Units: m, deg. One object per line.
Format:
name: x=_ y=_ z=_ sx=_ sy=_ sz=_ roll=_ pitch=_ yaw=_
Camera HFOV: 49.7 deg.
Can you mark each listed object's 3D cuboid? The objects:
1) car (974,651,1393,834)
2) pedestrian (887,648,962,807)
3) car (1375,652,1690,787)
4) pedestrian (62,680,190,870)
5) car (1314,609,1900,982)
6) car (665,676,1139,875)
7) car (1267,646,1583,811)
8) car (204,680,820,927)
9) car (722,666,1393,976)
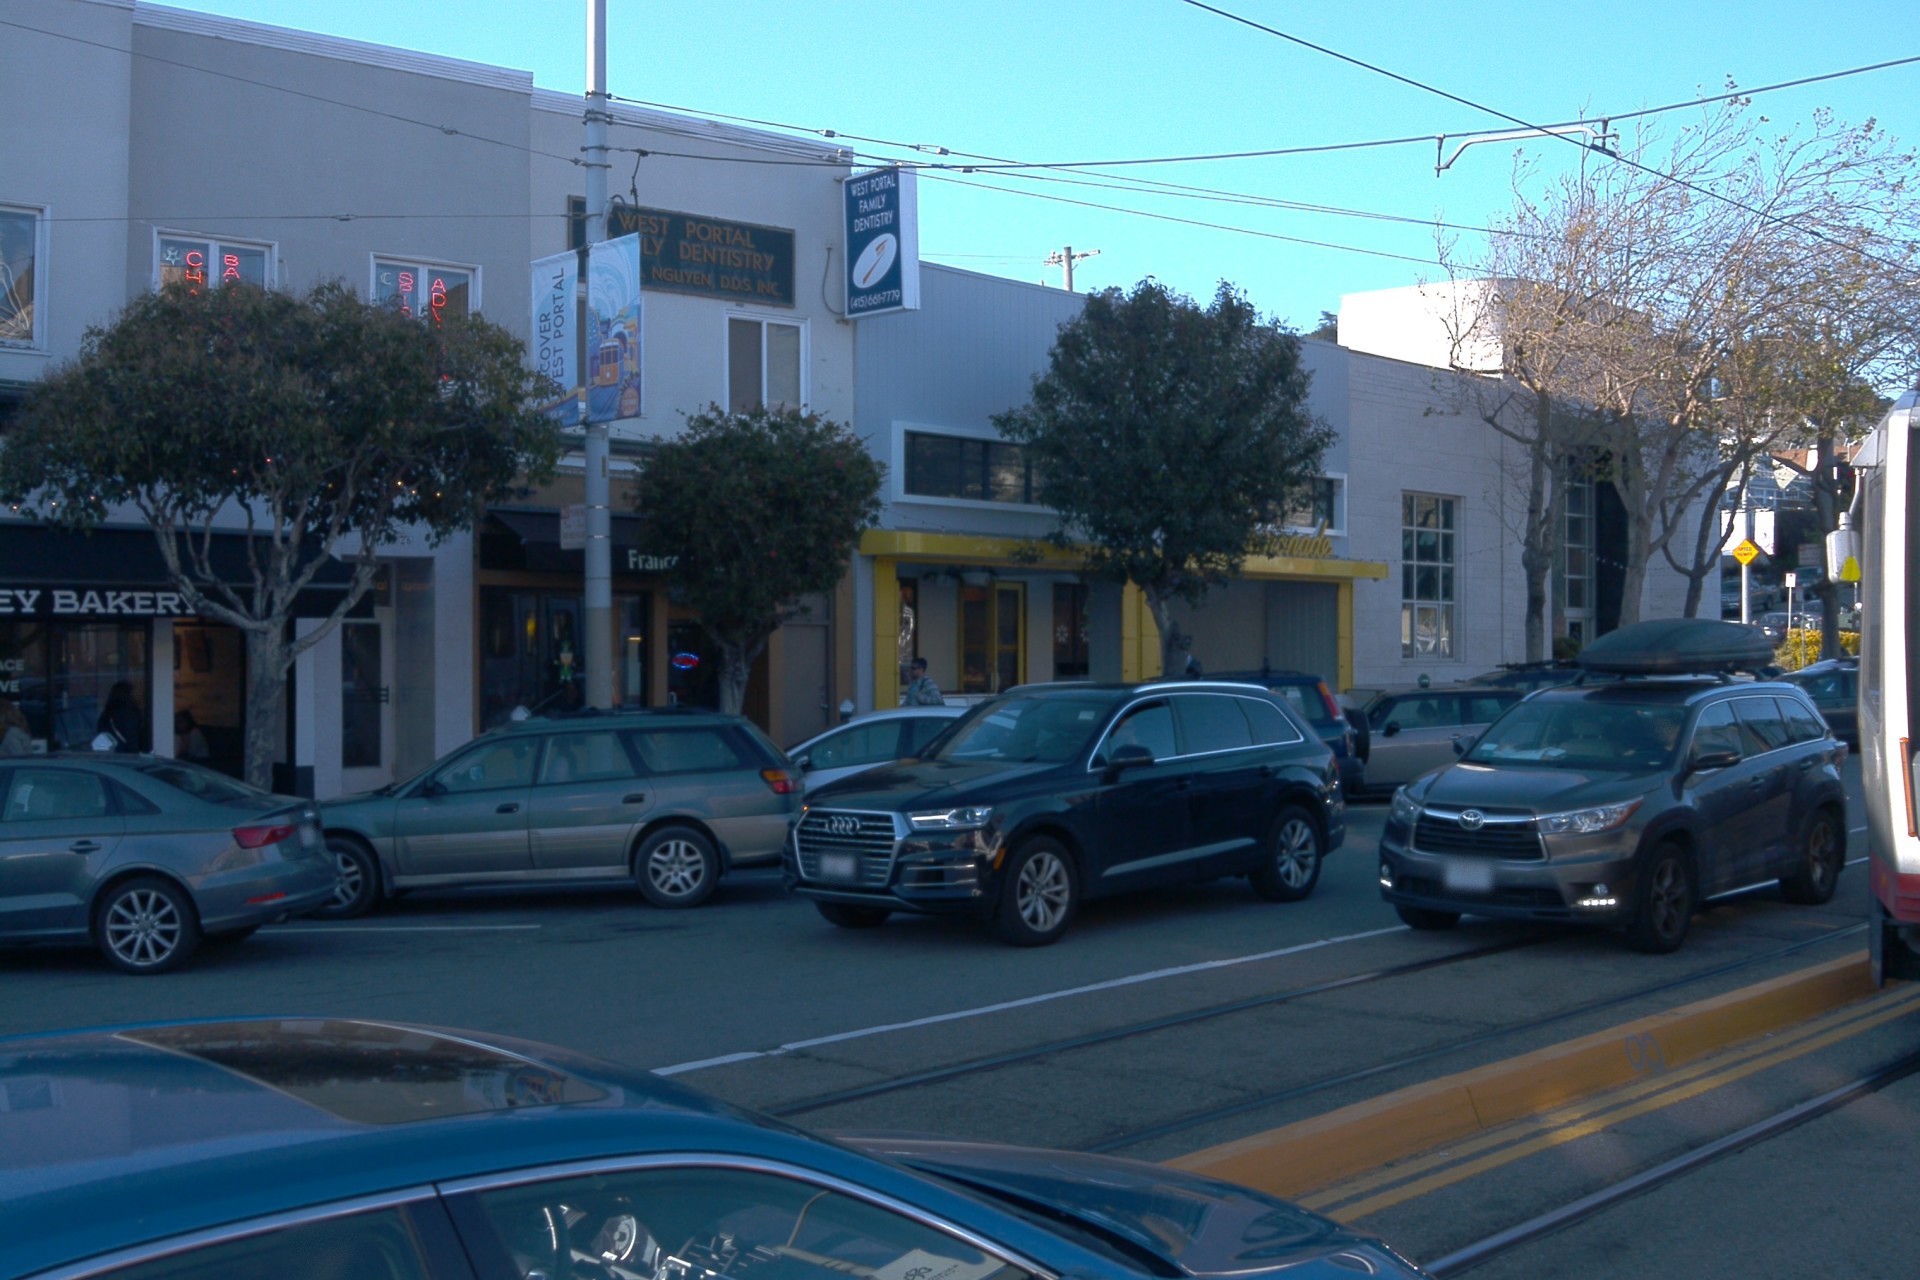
car: x=2.402 y=1.093 z=22.999 sx=4.415 sy=1.900 sz=2.081 roll=0 pitch=0 yaw=1
pedestrian: x=-0.458 y=1.094 z=26.437 sx=0.581 sy=1.990 sz=0.786 roll=0 pitch=0 yaw=-38
car: x=7.874 y=1.070 z=28.750 sx=3.806 sy=1.750 sz=1.936 roll=0 pitch=0 yaw=-3
pedestrian: x=-7.535 y=1.192 z=18.733 sx=0.713 sy=1.640 sz=0.838 roll=0 pitch=0 yaw=41
car: x=4.849 y=0.922 z=15.047 sx=2.182 sy=2.250 sz=4.900 roll=0 pitch=0 yaw=42
car: x=-0.539 y=1.257 z=19.996 sx=4.339 sy=1.750 sz=1.946 roll=0 pitch=0 yaw=-2
car: x=5.721 y=1.068 z=25.853 sx=3.614 sy=1.950 sz=1.902 roll=0 pitch=0 yaw=4
car: x=-3.495 y=1.268 z=16.945 sx=4.589 sy=1.800 sz=2.107 roll=0 pitch=0 yaw=-2
car: x=0.906 y=1.156 z=15.454 sx=2.206 sy=1.820 sz=5.116 roll=0 pitch=0 yaw=43
